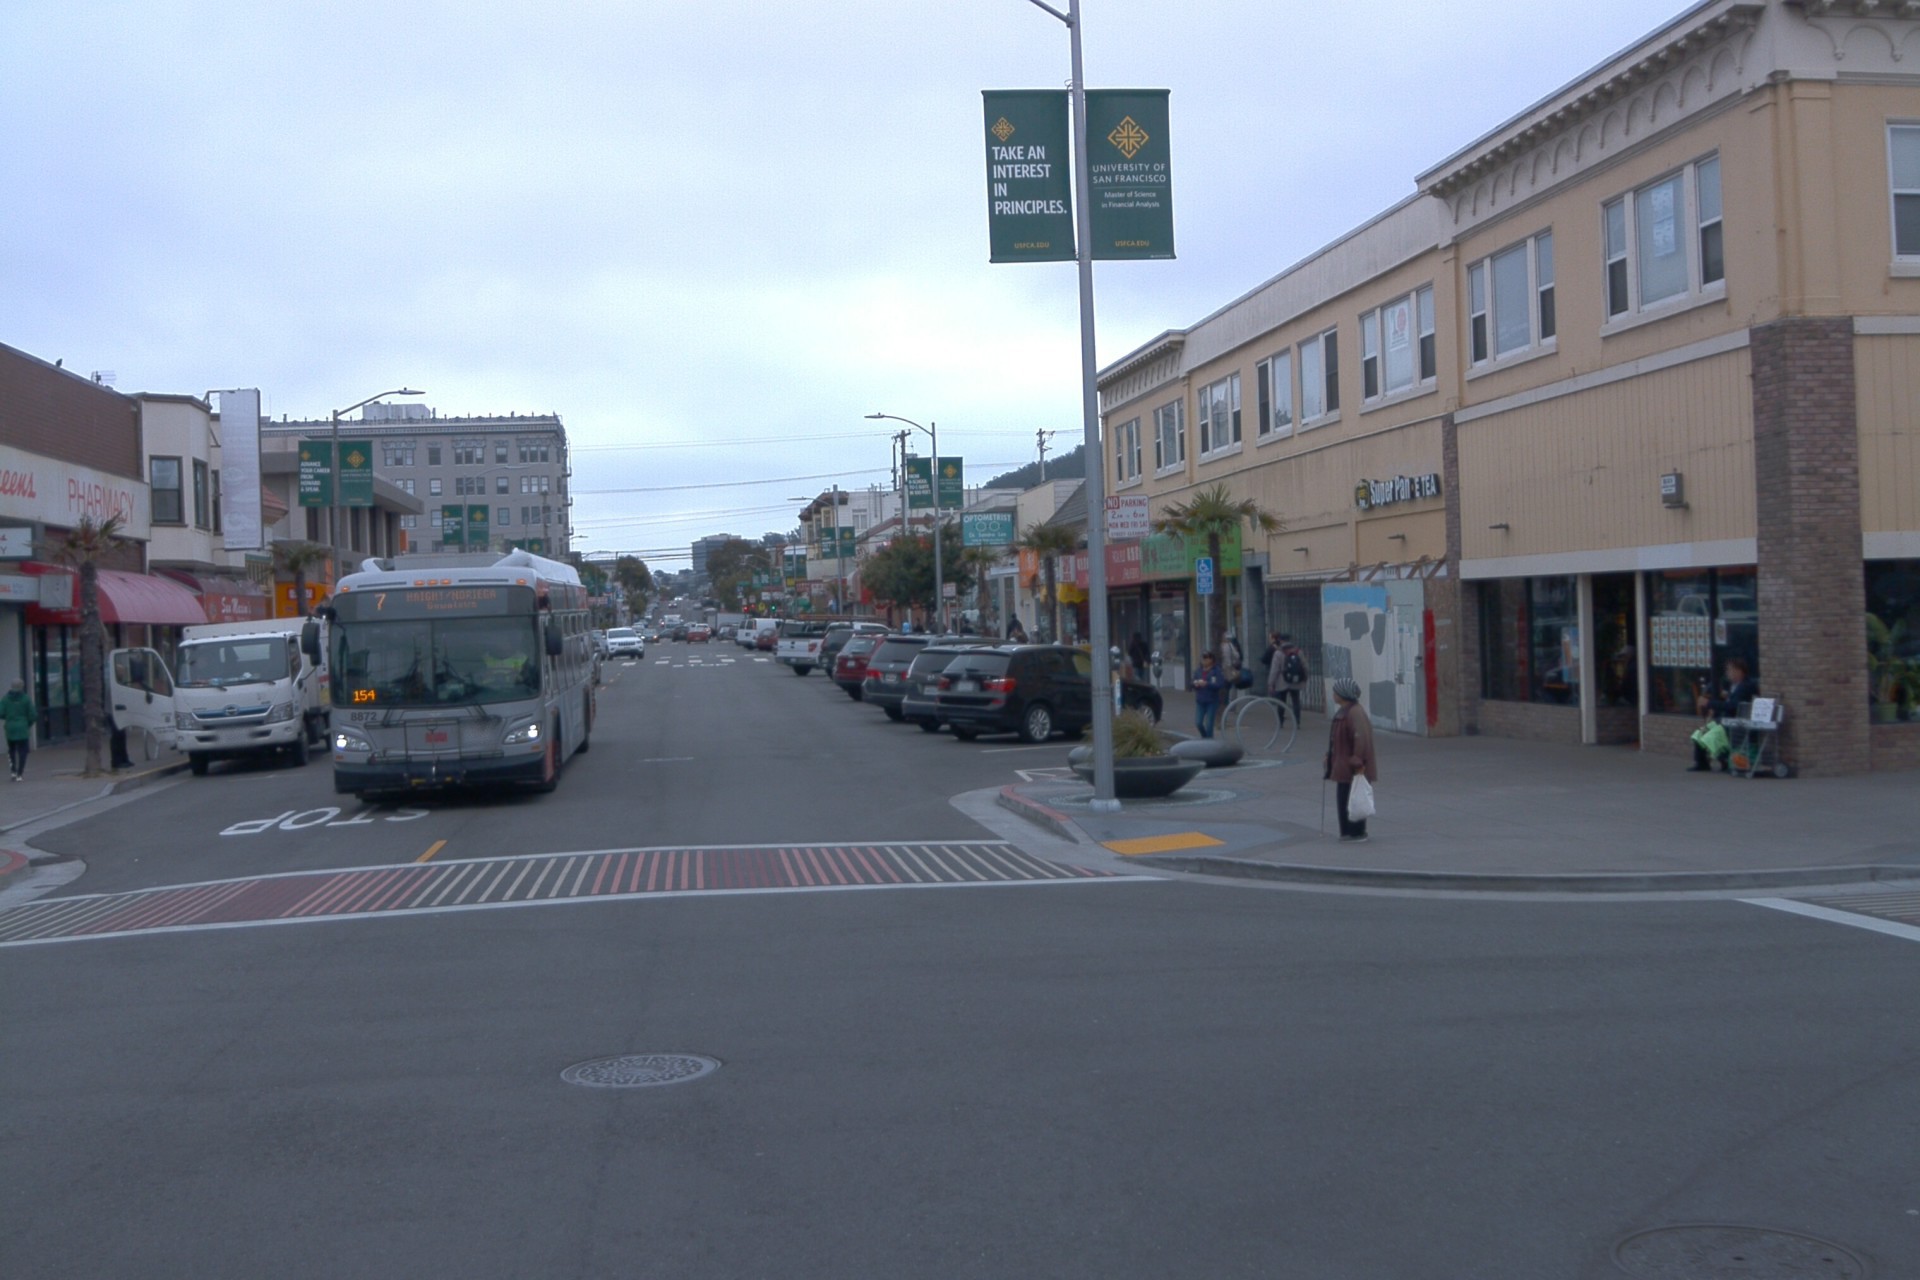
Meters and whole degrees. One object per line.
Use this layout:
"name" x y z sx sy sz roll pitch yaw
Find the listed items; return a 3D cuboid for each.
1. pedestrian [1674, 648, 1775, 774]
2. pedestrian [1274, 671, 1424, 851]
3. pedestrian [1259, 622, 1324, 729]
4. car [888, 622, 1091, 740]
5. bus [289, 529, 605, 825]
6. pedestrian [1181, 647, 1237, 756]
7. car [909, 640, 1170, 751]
"pedestrian" 8.606 0.788 23.185 0.739 1.374 0.873 0 1 -7
"pedestrian" 3.397 1.034 18.012 0.827 1.477 1.073 -1 1 -22
"pedestrian" 5.628 0.592 34.935 0.923 1.770 0.950 0 1 -2
"car" 0.585 0.708 38.239 1.761 2.040 3.671 1 1 43
"bus" -7.154 0.328 30.674 3.209 3.480 12.611 0 1 -8
"pedestrian" 3.716 0.911 30.735 0.747 1.598 0.778 0 1 1
"car" 1.454 0.905 35.911 2.044 1.740 4.509 1 1 45
